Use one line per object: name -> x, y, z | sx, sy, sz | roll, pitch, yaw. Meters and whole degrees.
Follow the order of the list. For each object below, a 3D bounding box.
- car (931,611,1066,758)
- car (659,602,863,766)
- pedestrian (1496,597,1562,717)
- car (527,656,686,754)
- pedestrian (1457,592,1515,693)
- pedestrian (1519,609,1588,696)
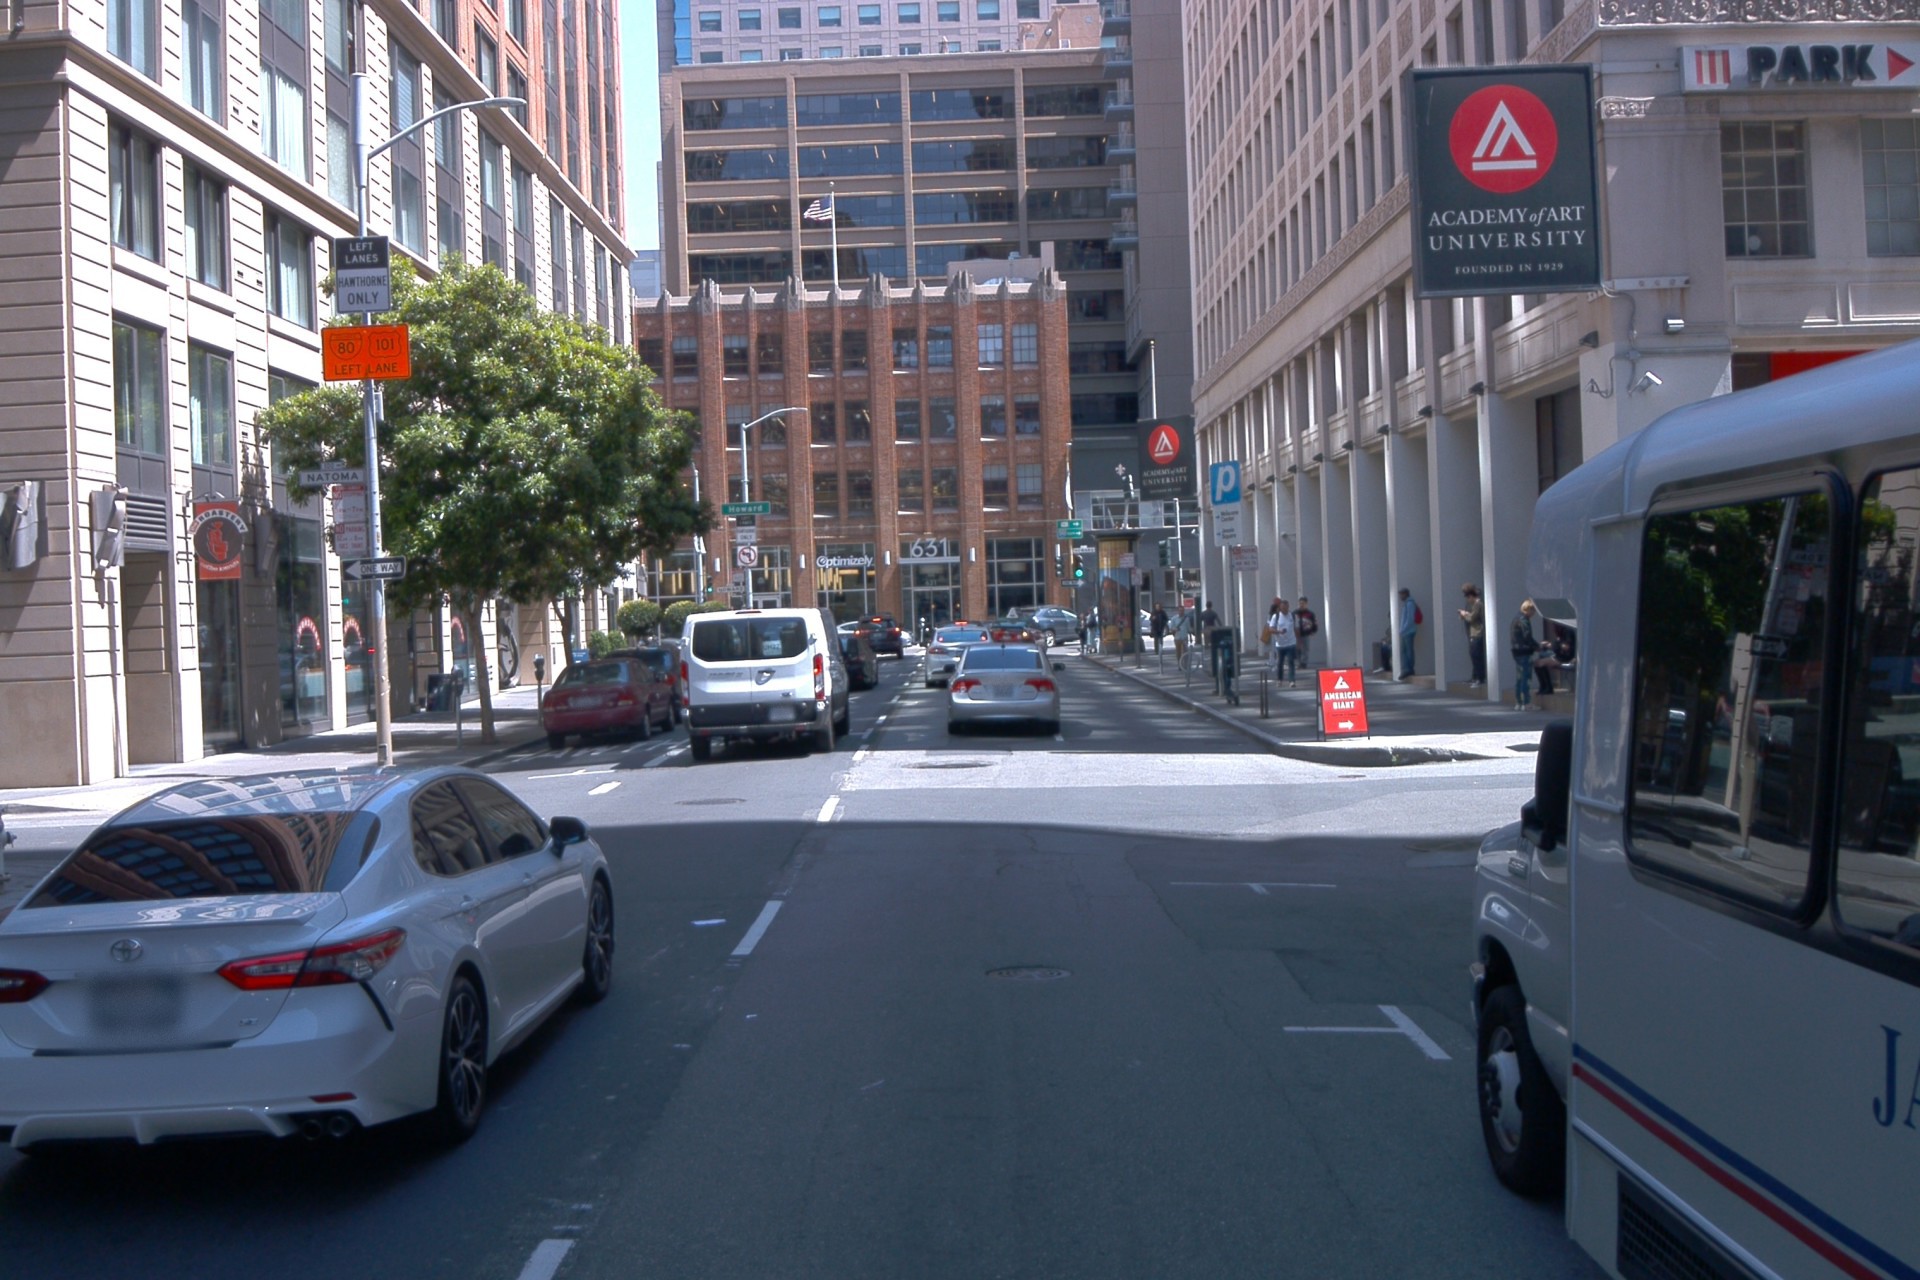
car -> 0.653, 0.638, 32.967 | 2.012, 2.200, 4.315 | 0, 1, 2
car -> -2.810, 0.559, 30.521 | 2.374, 2.200, 5.787 | 0, 1, 1
pedestrian -> 8.791, 0.252, 31.769 | 0.858, 1.838, 0.670 | 0, 1, 4
car -> -6.007, 1.066, 35.390 | 1.891, 1.500, 4.429 | 0, 1, 1
pedestrian -> 9.141, 0.035, 35.735 | 0.831, 1.744, 0.697 | 0, 1, -1
pedestrian -> 9.188, 0.181, 31.832 | 0.837, 1.328, 0.743 | 0, 1, -1
